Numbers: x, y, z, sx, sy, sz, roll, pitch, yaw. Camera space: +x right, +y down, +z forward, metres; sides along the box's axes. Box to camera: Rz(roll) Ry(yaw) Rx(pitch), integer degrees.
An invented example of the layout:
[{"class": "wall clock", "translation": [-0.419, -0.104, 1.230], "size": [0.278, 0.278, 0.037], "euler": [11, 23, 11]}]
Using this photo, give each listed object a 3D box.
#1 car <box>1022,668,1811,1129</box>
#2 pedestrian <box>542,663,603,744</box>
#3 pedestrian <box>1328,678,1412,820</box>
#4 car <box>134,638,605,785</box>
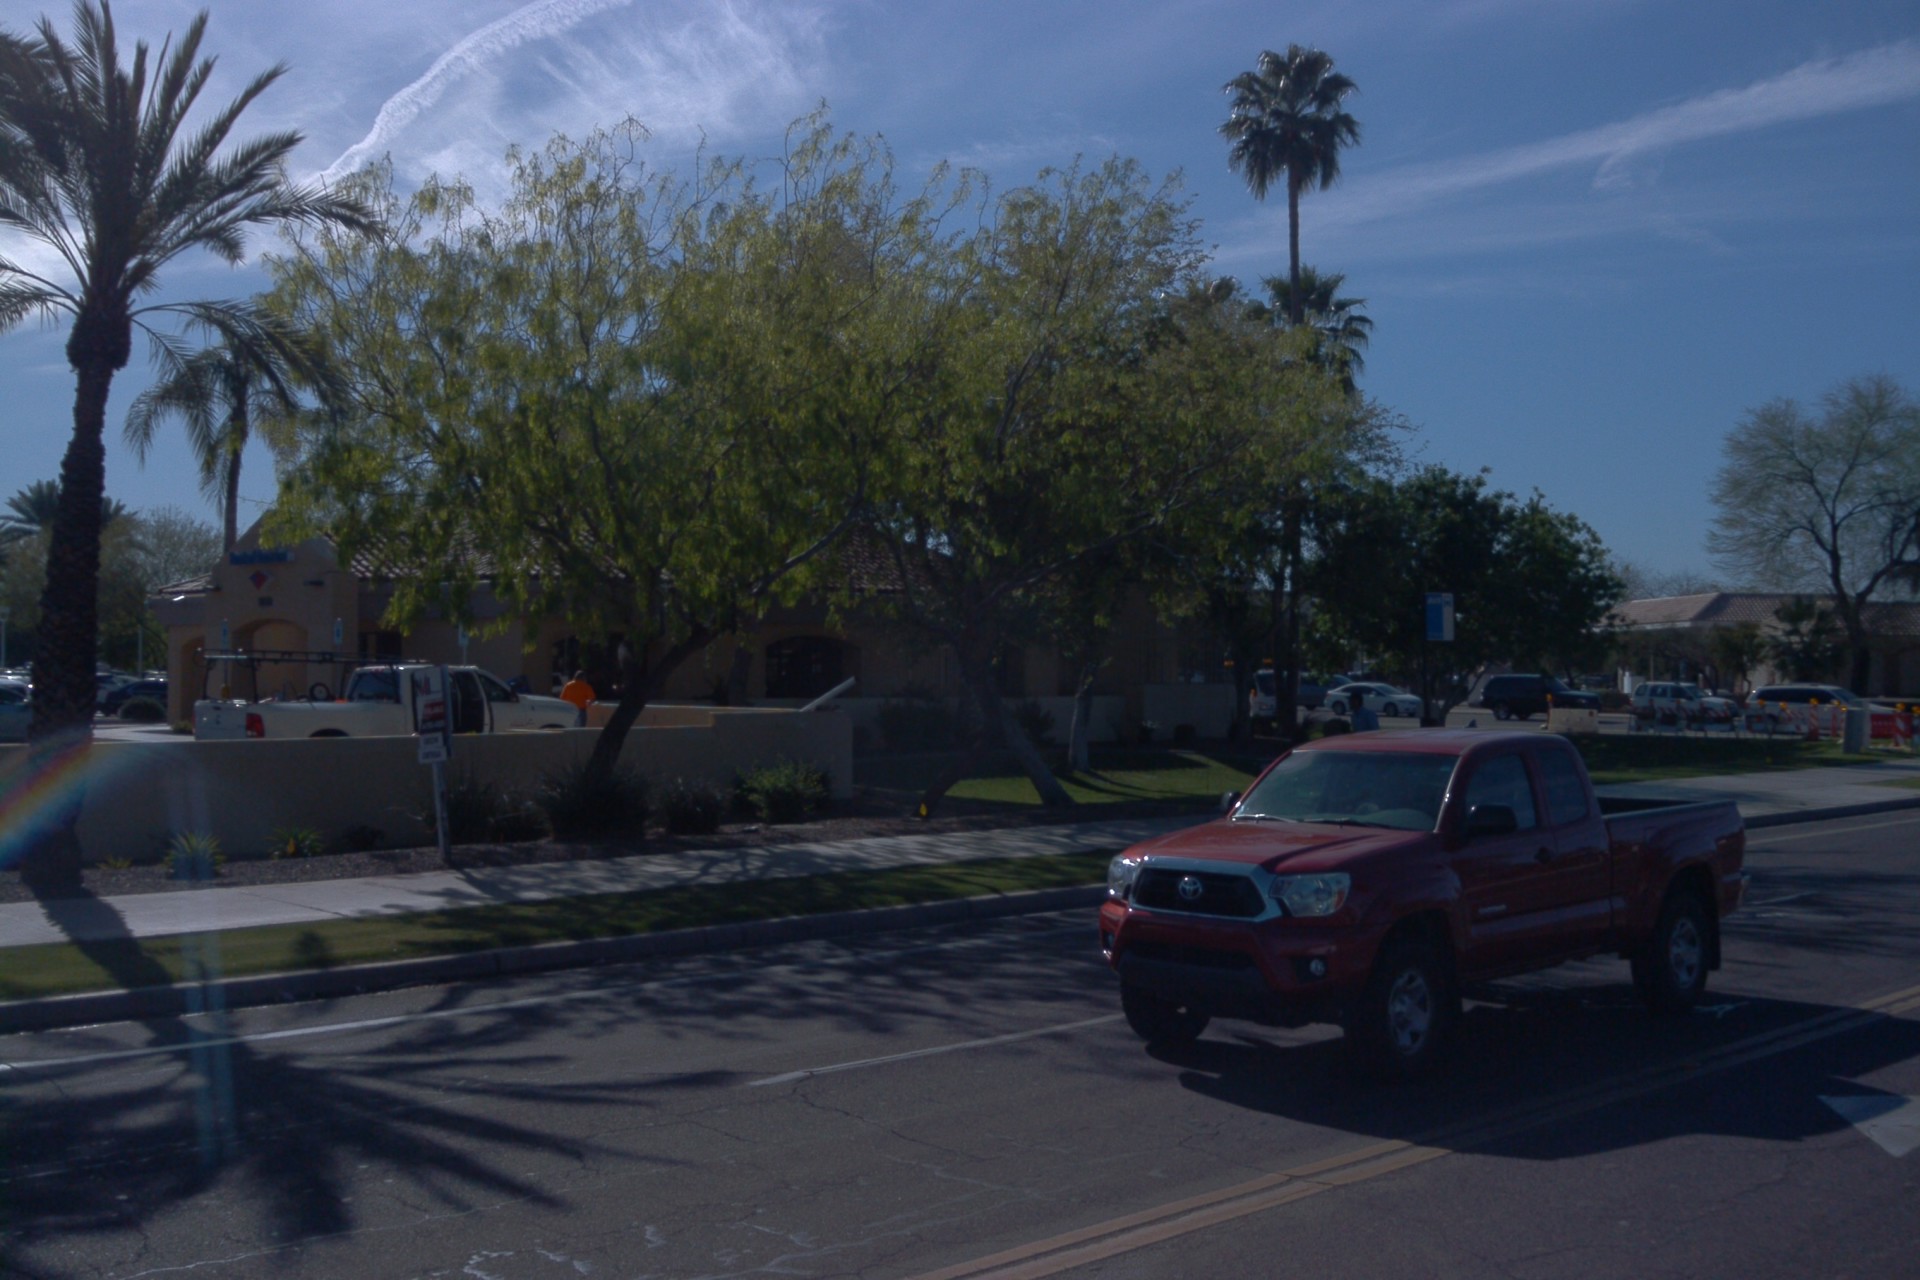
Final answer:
[{"class": "car", "translation": [2.967, 1.272, 12.493], "size": [2.187, 2.170, 5.219], "euler": [0, -1, 45]}, {"class": "pedestrian", "translation": [-7.127, 1.158, 38.073], "size": [0.786, 1.450, 0.845], "euler": [1, -1, -38]}, {"class": "pedestrian", "translation": [5.987, 1.572, 30.222], "size": [0.820, 2.020, 0.875], "euler": [1, -1, -45]}, {"class": "car", "translation": [-9.225, 1.053, 32.953], "size": [2.739, 2.090, 6.749], "euler": [0, -1, 42]}]
